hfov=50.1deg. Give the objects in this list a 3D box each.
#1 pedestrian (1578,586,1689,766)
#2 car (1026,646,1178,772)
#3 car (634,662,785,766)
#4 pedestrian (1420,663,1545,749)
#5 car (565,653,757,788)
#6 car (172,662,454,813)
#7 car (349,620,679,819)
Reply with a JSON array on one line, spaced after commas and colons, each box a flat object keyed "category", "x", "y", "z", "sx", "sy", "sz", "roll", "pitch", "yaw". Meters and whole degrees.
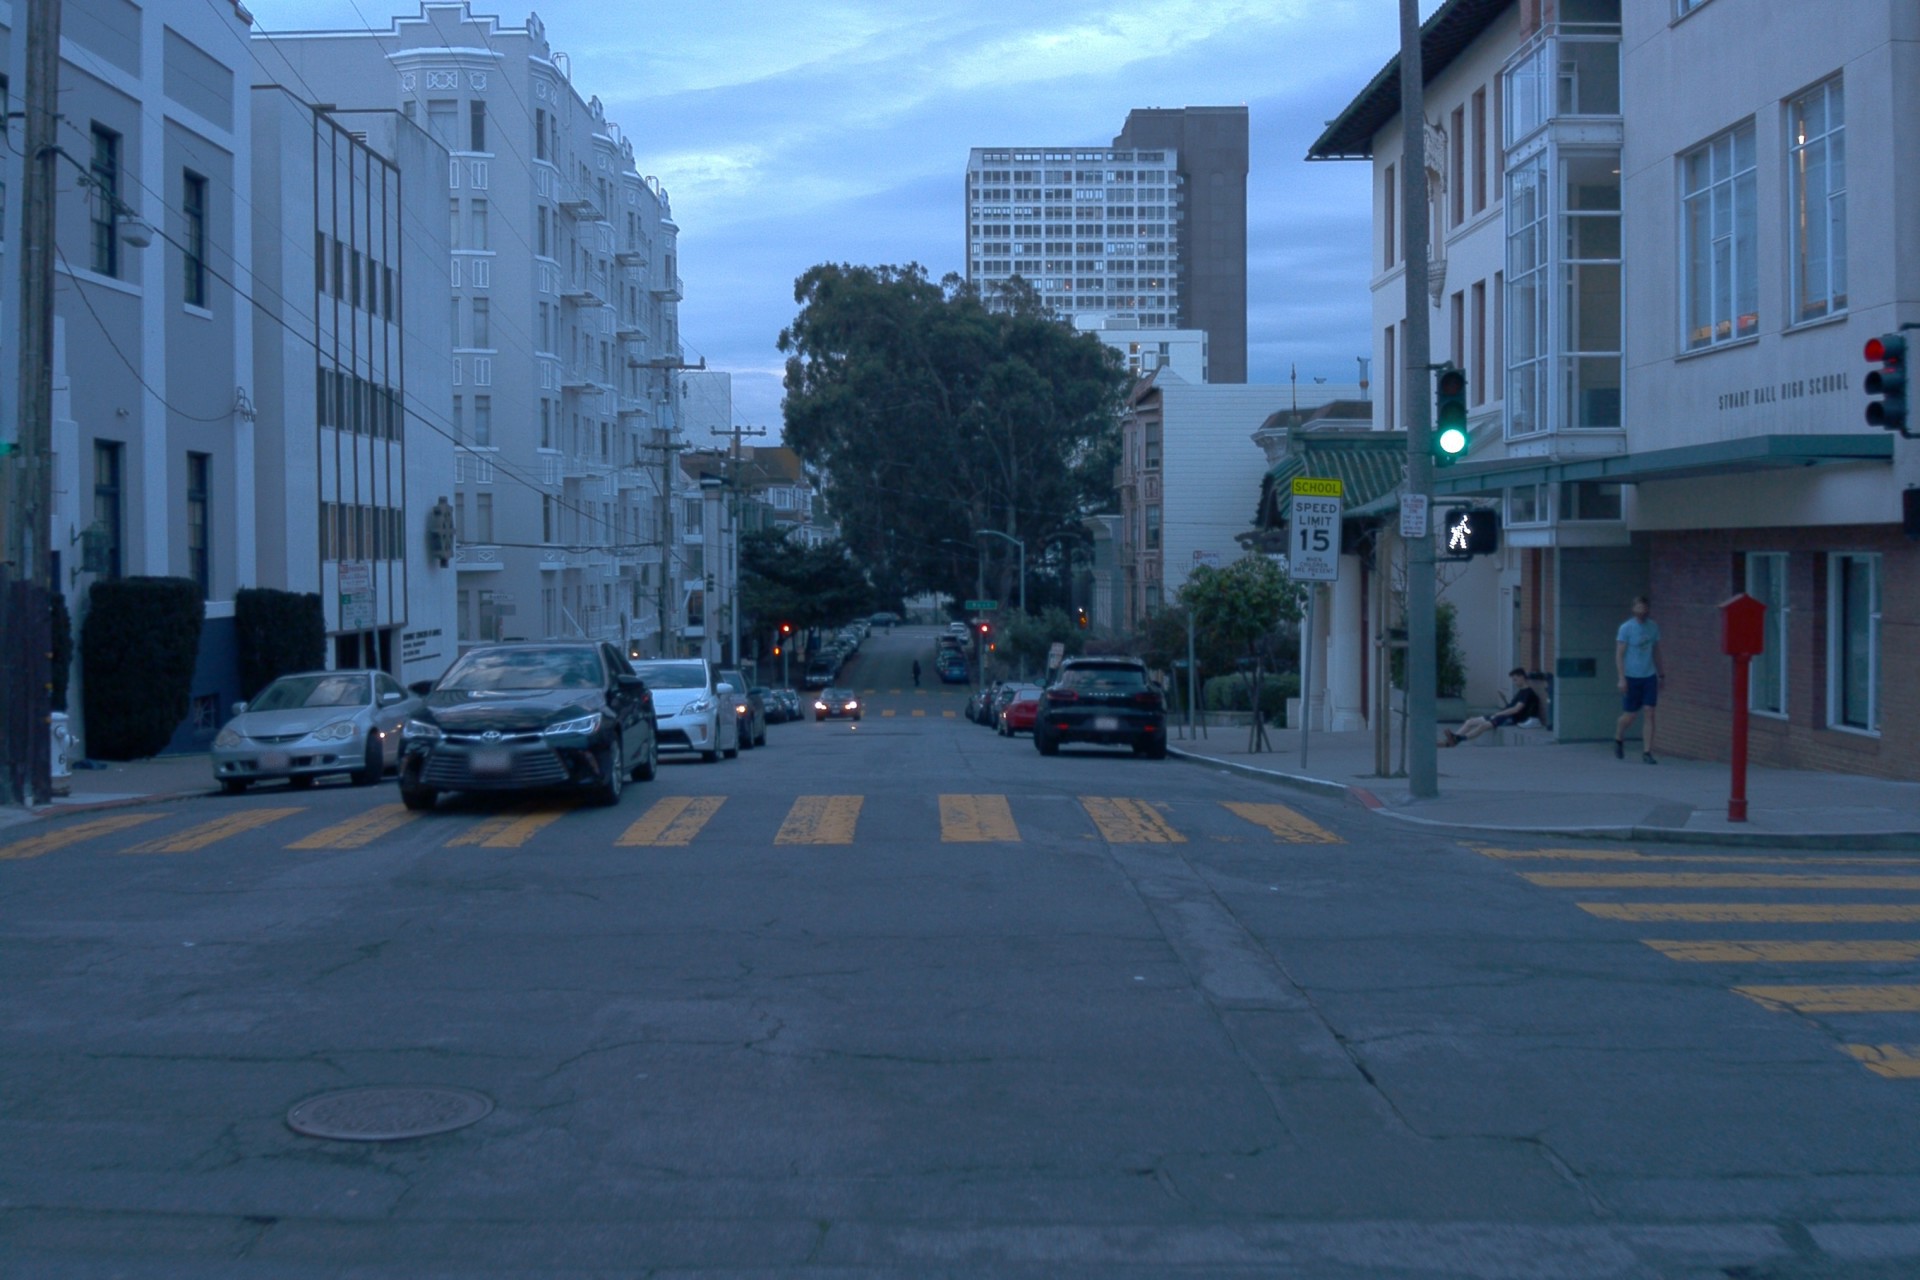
[{"category": "pedestrian", "x": 7.772, "y": 0.394, "z": 23.782, "sx": 0.835, "sy": 2.020, "sz": 1.186, "roll": 1, "pitch": 1, "yaw": 0}, {"category": "car", "x": 2.206, "y": 1.045, "z": 33.161, "sx": 2.188, "sy": 1.760, "sz": 4.713, "roll": 1, "pitch": 1, "yaw": 1}, {"category": "car", "x": -4.450, "y": 1.276, "z": 37.232, "sx": 2.146, "sy": 1.600, "sz": 4.698, "roll": 1, "pitch": 1, "yaw": 0}, {"category": "pedestrian", "x": 7.770, "y": 0.971, "z": 30.640, "sx": 1.524, "sy": 1.200, "sz": 1.090, "roll": 1, "pitch": 1, "yaw": -2}, {"category": "car", "x": -4.056, "y": 1.044, "z": 28.574, "sx": 2.034, "sy": 1.600, "sz": 4.431, "roll": 1, "pitch": 1, "yaw": 0}, {"category": "car", "x": -7.418, "y": 1.063, "z": 24.054, "sx": 1.992, "sy": 1.450, "sz": 4.399, "roll": 1, "pitch": 1, "yaw": -1}, {"category": "car", "x": -3.907, "y": 0.617, "z": 18.909, "sx": 2.144, "sy": 1.530, "sz": 4.749, "roll": 1, "pitch": 1, "yaw": -2}]
